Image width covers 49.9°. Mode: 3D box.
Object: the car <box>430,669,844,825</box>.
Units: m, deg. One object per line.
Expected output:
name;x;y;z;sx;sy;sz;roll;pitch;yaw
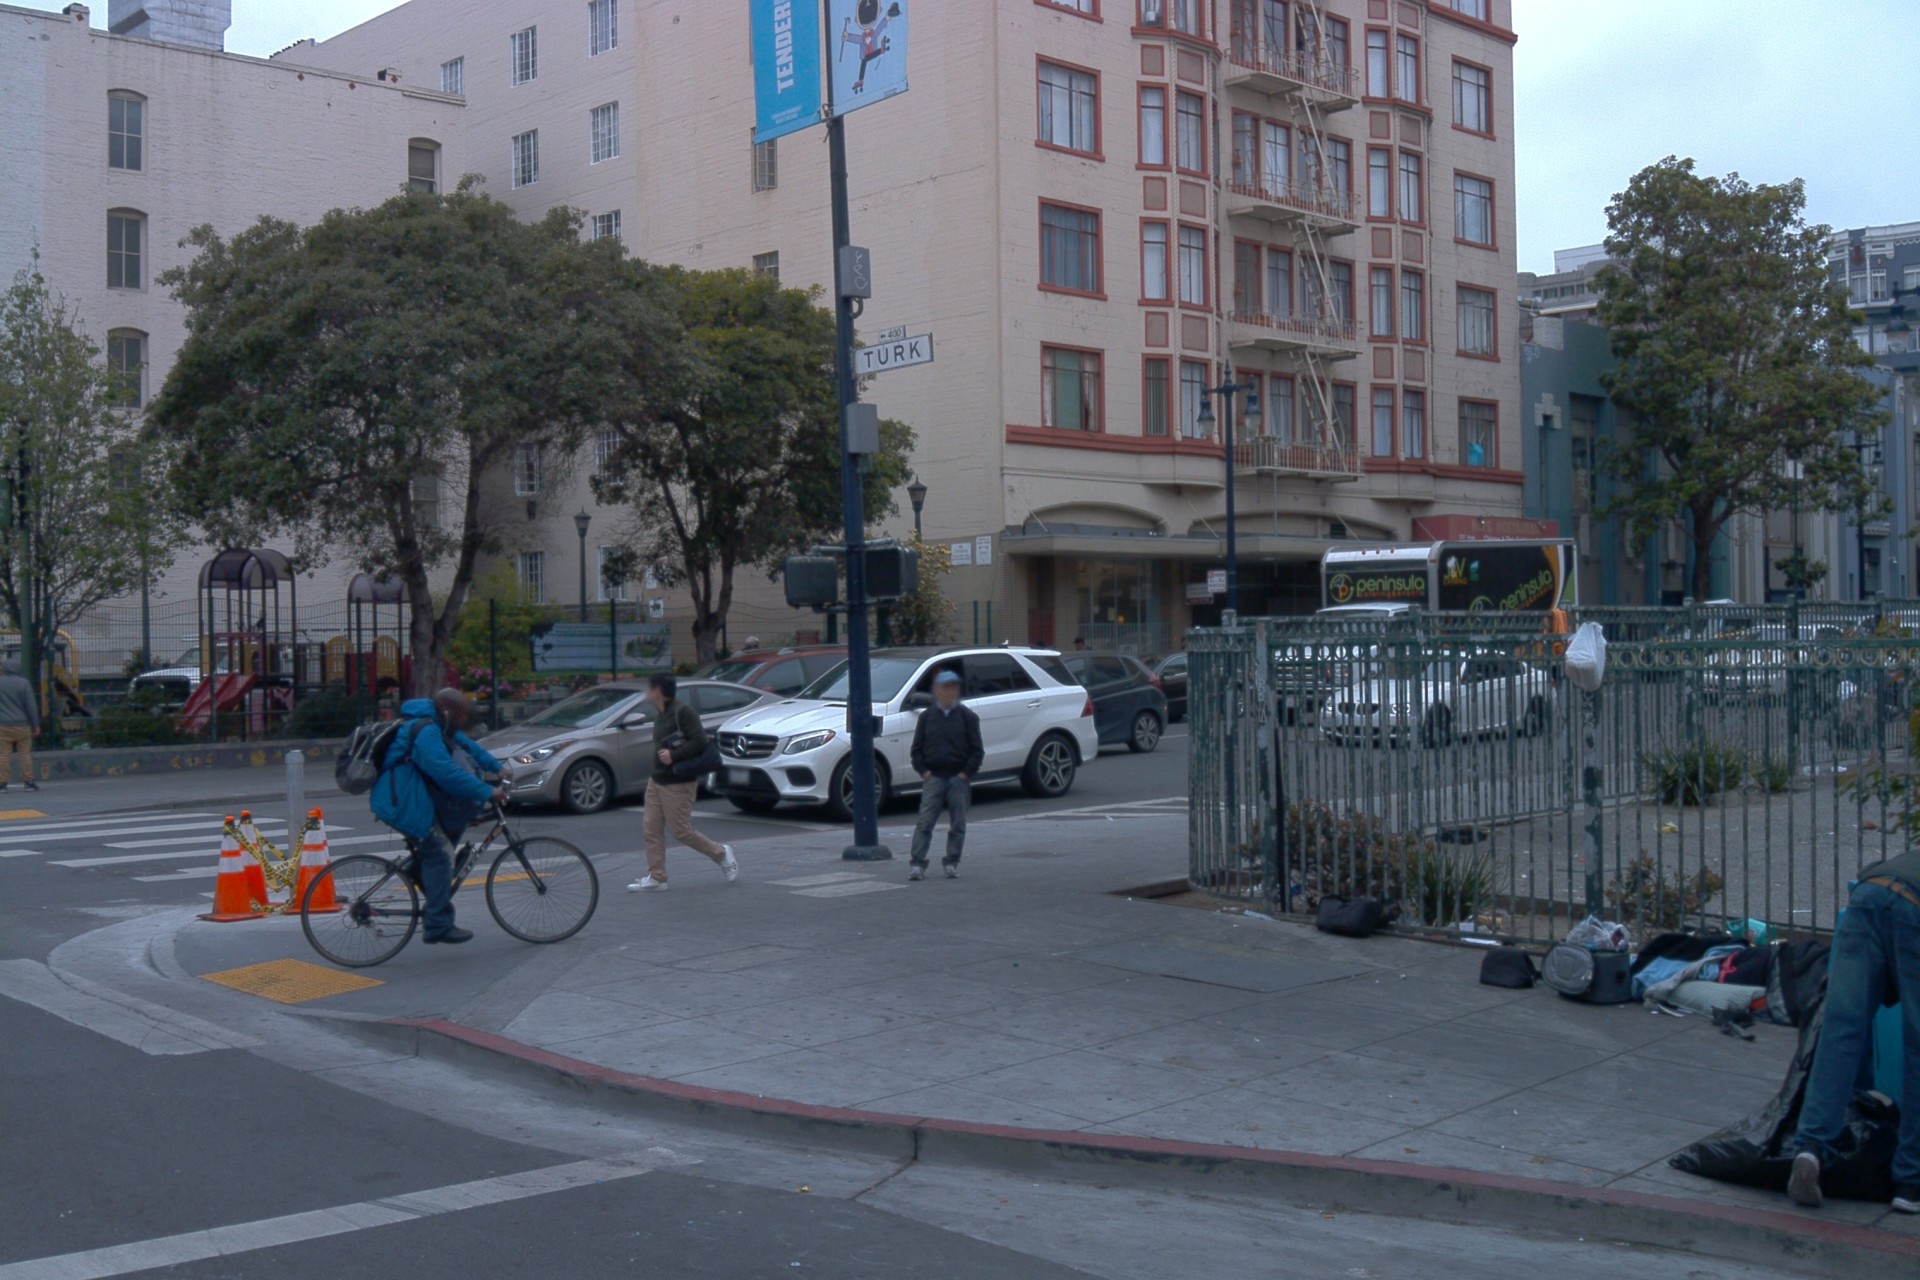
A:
car;-3.684;1.162;24.090;4.454;1.540;1.957;-1;1;-44

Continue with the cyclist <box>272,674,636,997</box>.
cyclist;-3.029;1.102;12.348;1.952;1.750;1.012;0;1;-24

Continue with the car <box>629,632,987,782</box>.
car;-2.130;0.890;30.189;5.045;1.980;2.095;-1;1;-44

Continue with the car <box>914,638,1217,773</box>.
car;1.559;0.859;29.223;4.317;1.730;1.853;-1;1;-45

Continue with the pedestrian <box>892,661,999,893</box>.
pedestrian;-0.103;0.996;15.391;0.776;1.670;0.798;0;1;0

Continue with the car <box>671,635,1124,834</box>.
car;-0.600;0.926;22.863;4.775;1.930;2.184;-1;1;-44

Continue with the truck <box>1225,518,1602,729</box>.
truck;8.216;-0.305;36.923;7.101;3.420;2.936;-1;1;-41

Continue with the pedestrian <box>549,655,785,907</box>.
pedestrian;-2.147;0.987;15.182;1.309;1.720;1.115;-1;1;-43

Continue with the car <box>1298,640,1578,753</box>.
car;7.173;0.776;30.711;1.930;1.520;4.584;1;1;45
